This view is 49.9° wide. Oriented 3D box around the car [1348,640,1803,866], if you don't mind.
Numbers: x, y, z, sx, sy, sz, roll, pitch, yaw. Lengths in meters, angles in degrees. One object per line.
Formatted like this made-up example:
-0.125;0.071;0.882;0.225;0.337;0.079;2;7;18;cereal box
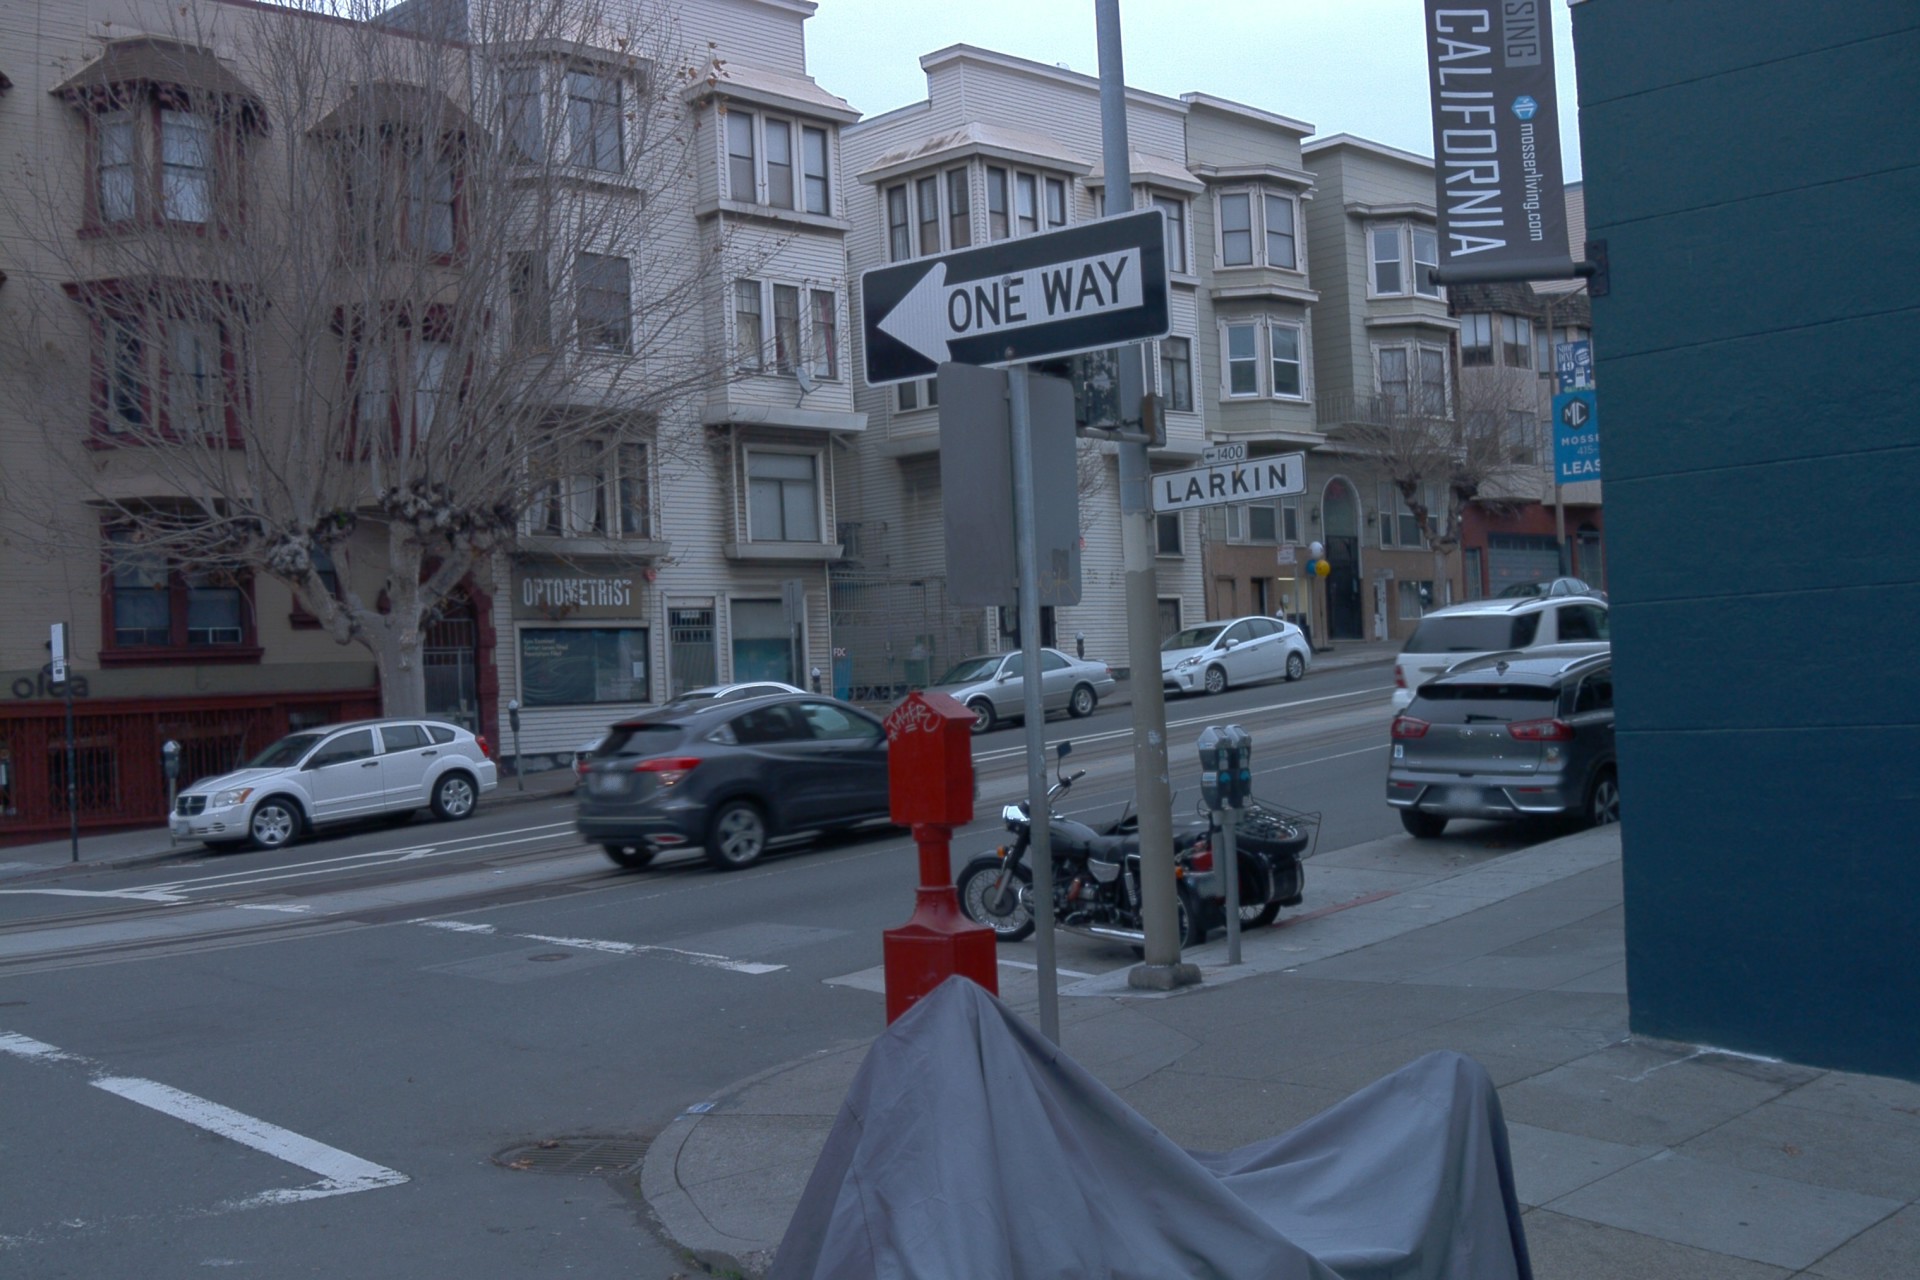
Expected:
5.645;0.884;18.583;2.132;1.717;4.606;0;1;42;car

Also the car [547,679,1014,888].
-1.695;1.317;20.571;2.054;1.720;4.338;1;1;45;car

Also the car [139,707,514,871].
-8.482;1.919;27.919;2.053;1.847;4.407;1;1;44;car

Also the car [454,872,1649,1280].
0.332;1.393;4.286;2.490;1.520;1.048;-1;1;-44;car

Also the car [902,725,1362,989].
1.133;1.379;14.055;2.745;1.460;1.540;0;1;42;car

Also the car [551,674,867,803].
-3.872;1.467;32.361;4.589;1.757;2.074;-1;1;-44;car

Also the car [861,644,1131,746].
0.712;0.921;37.120;4.801;1.657;2.084;-1;1;-45;car

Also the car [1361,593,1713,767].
7.157;0.417;25.319;2.171;1.930;4.820;1;1;43;car
